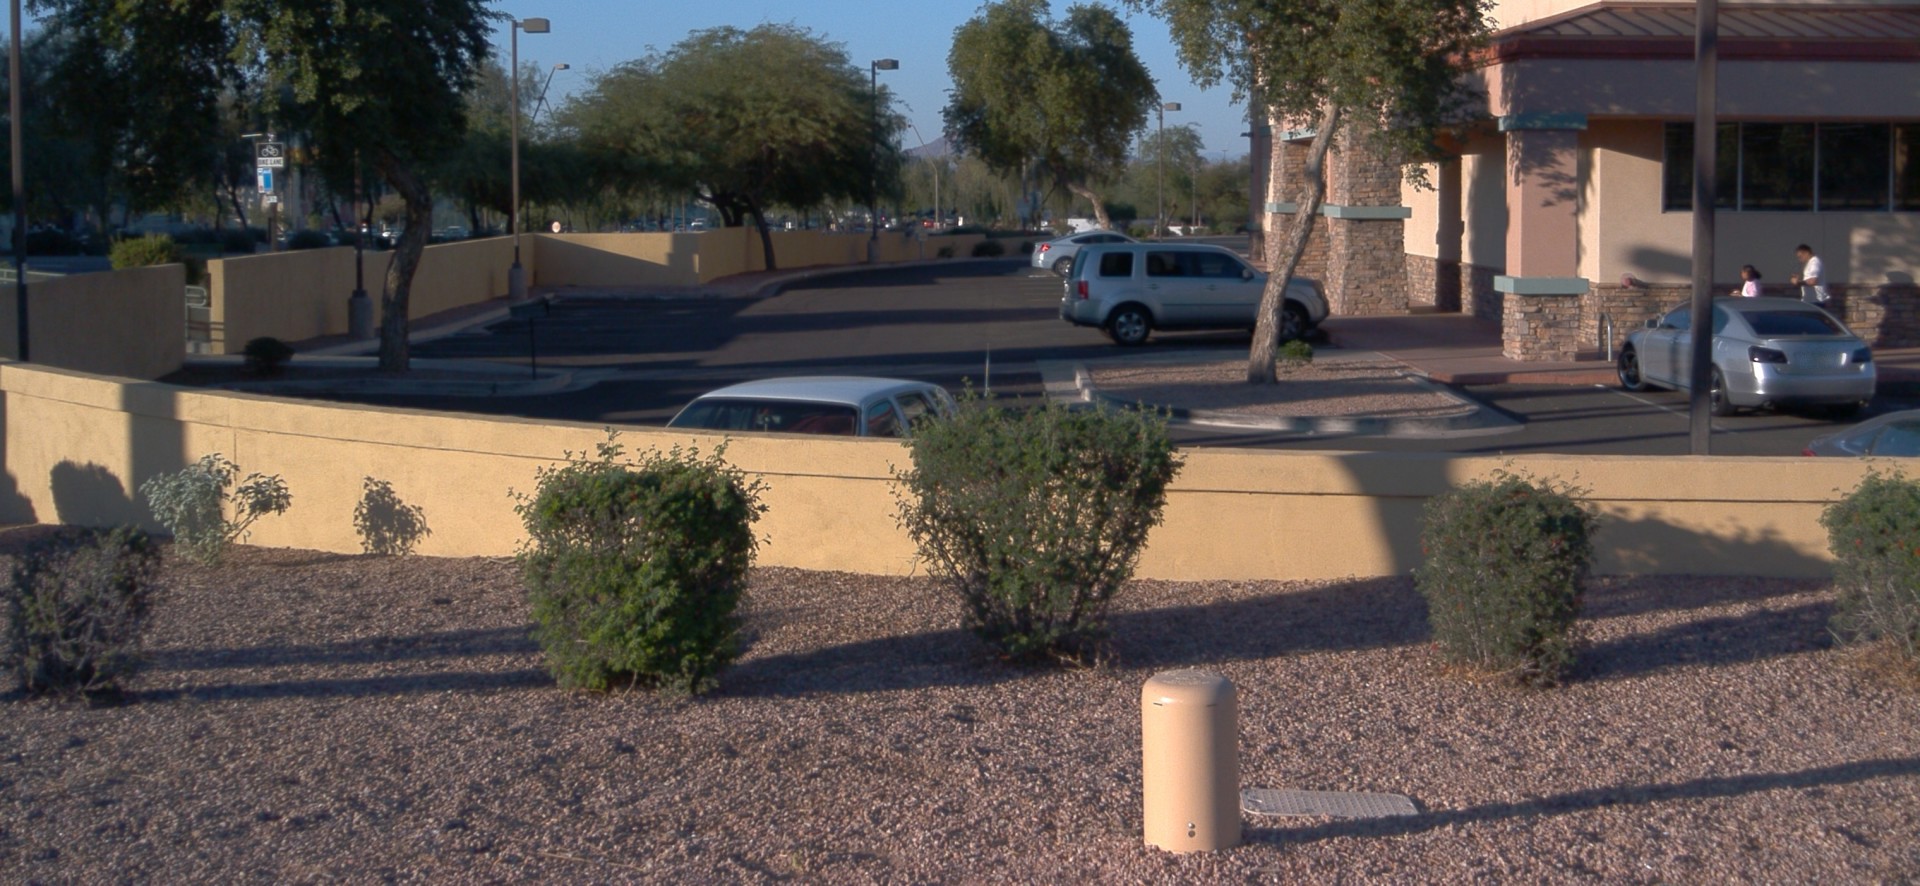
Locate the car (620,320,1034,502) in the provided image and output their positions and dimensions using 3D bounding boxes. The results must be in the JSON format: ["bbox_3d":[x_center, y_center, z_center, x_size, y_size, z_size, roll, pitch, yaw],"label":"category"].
[{"bbox_3d":[-0.929,-0.355,16.869,1.917,1.095,3.965,2,6,20],"label":"car"}]

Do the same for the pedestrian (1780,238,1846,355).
[{"bbox_3d":[13.338,-2.302,32.462,0.829,1.802,0.746,0,1,10],"label":"pedestrian"}]

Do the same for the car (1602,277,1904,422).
[{"bbox_3d":[10.036,-1.290,26.692,1.912,1.573,4.738,0,5,-3],"label":"car"}]

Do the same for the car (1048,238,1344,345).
[{"bbox_3d":[4.192,-2.770,37.403,4.991,1.846,2.164,-1,4,-6],"label":"car"}]
